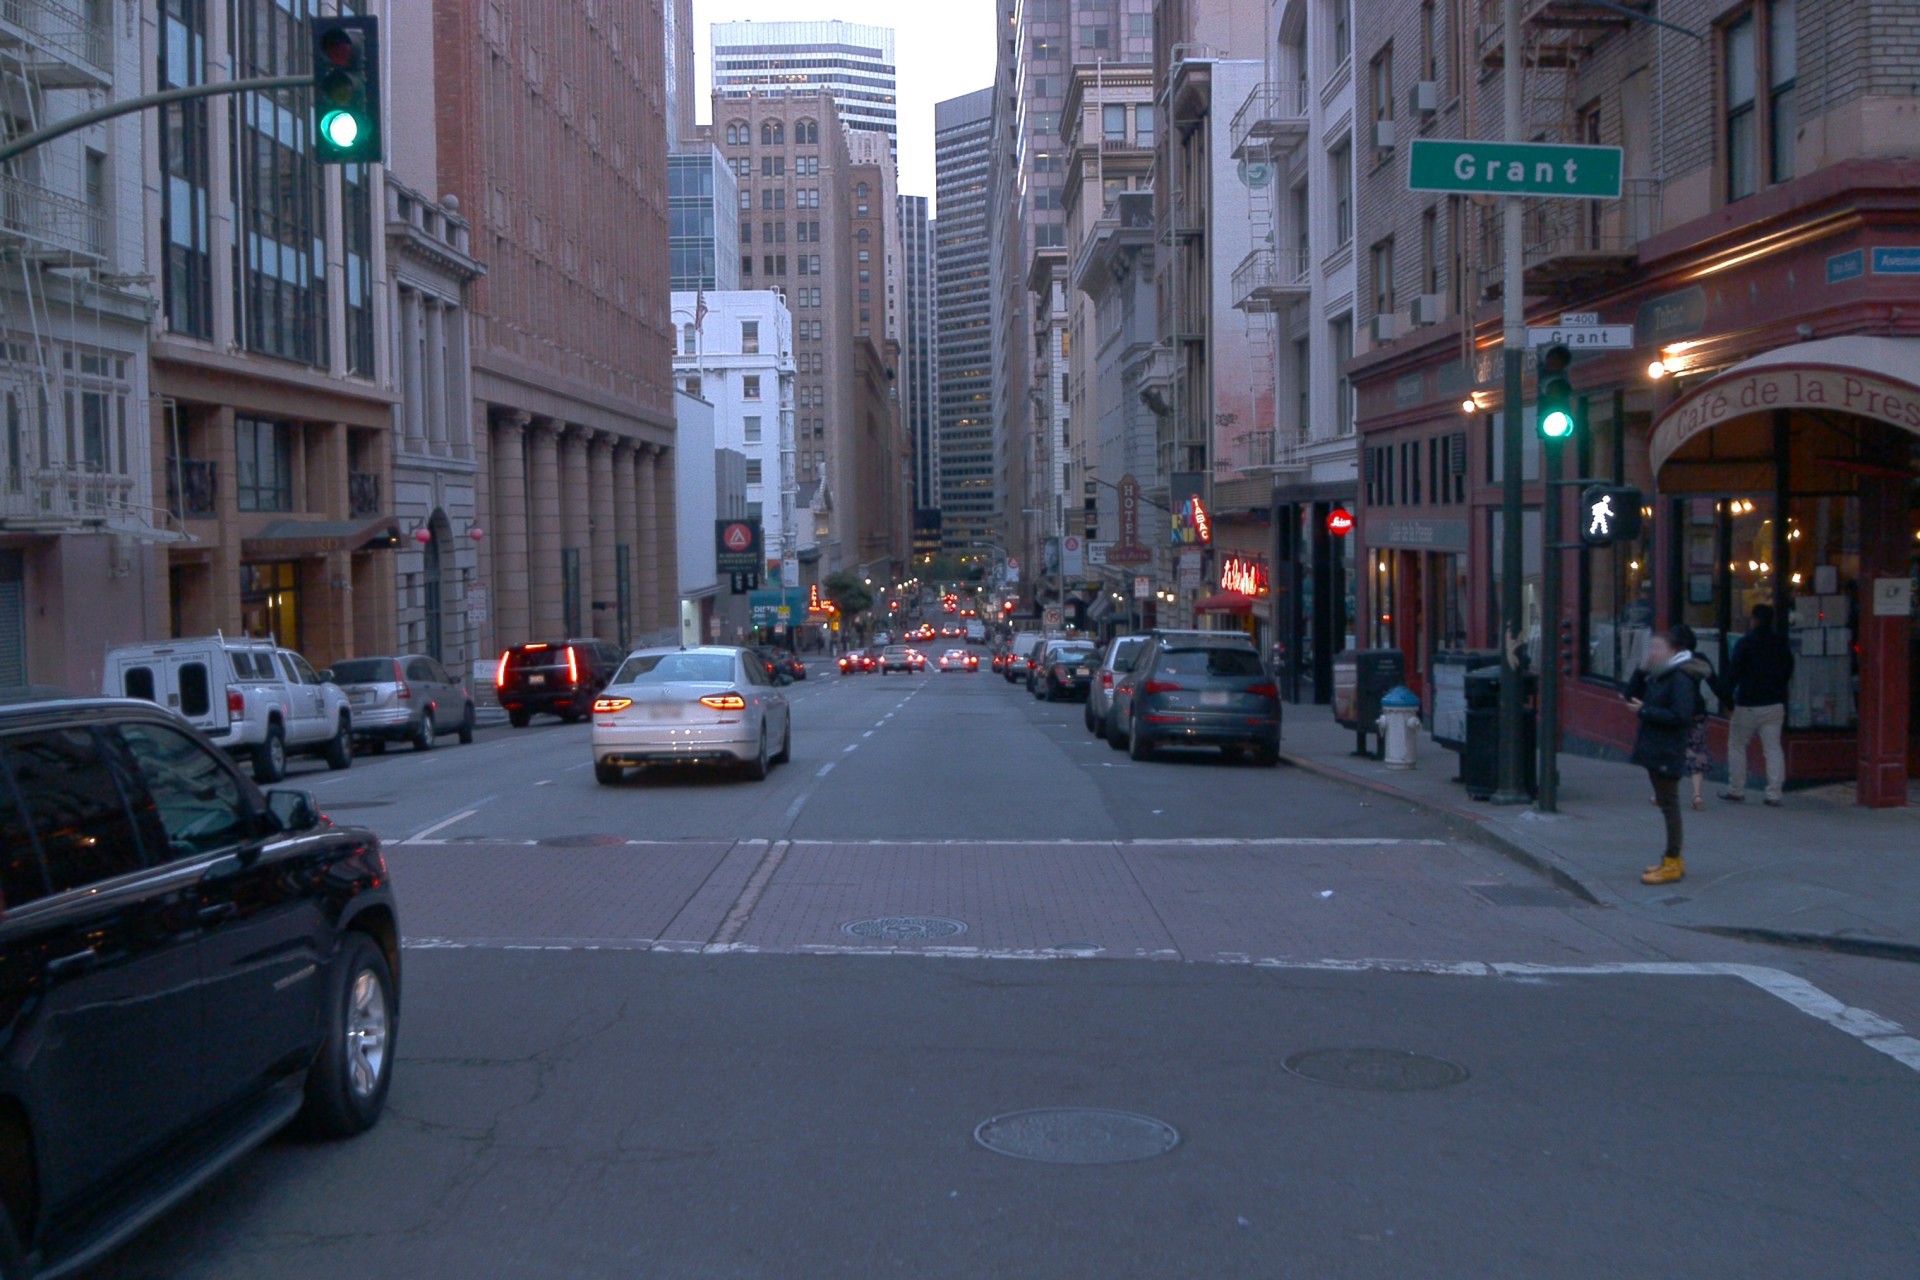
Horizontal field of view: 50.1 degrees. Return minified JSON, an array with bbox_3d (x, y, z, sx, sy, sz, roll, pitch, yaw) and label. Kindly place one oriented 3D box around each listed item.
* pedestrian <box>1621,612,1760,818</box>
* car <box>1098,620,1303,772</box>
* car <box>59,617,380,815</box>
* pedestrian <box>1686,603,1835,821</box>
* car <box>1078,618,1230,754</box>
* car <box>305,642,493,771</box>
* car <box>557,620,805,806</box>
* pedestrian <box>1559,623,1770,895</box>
[{"bbox_3d":[6.037,0.599,17.041,0.767,1.656,0.958,0,1,-3],"label":"pedestrian"},{"bbox_3d":[3.133,0.670,27.822,2.215,1.850,4.834,0,1,0],"label":"car"},{"bbox_3d":[-9.420,0.855,26.741,2.287,2.294,5.434,0,1,-1],"label":"car"},{"bbox_3d":[6.654,0.578,17.132,0.840,1.766,0.955,0,1,-1],"label":"pedestrian"},{"bbox_3d":[3.157,0.698,34.329,2.112,2.100,4.444,0,1,0],"label":"car"},{"bbox_3d":[-9.477,1.062,35.117,1.937,1.988,4.532,0,1,1],"label":"car"},{"bbox_3d":[-2.993,0.714,23.073,2.119,1.850,4.733,0,1,0],"label":"car"},{"bbox_3d":[4.713,0.765,13.814,1.062,1.756,0.906,0,1,-4],"label":"pedestrian"}]
